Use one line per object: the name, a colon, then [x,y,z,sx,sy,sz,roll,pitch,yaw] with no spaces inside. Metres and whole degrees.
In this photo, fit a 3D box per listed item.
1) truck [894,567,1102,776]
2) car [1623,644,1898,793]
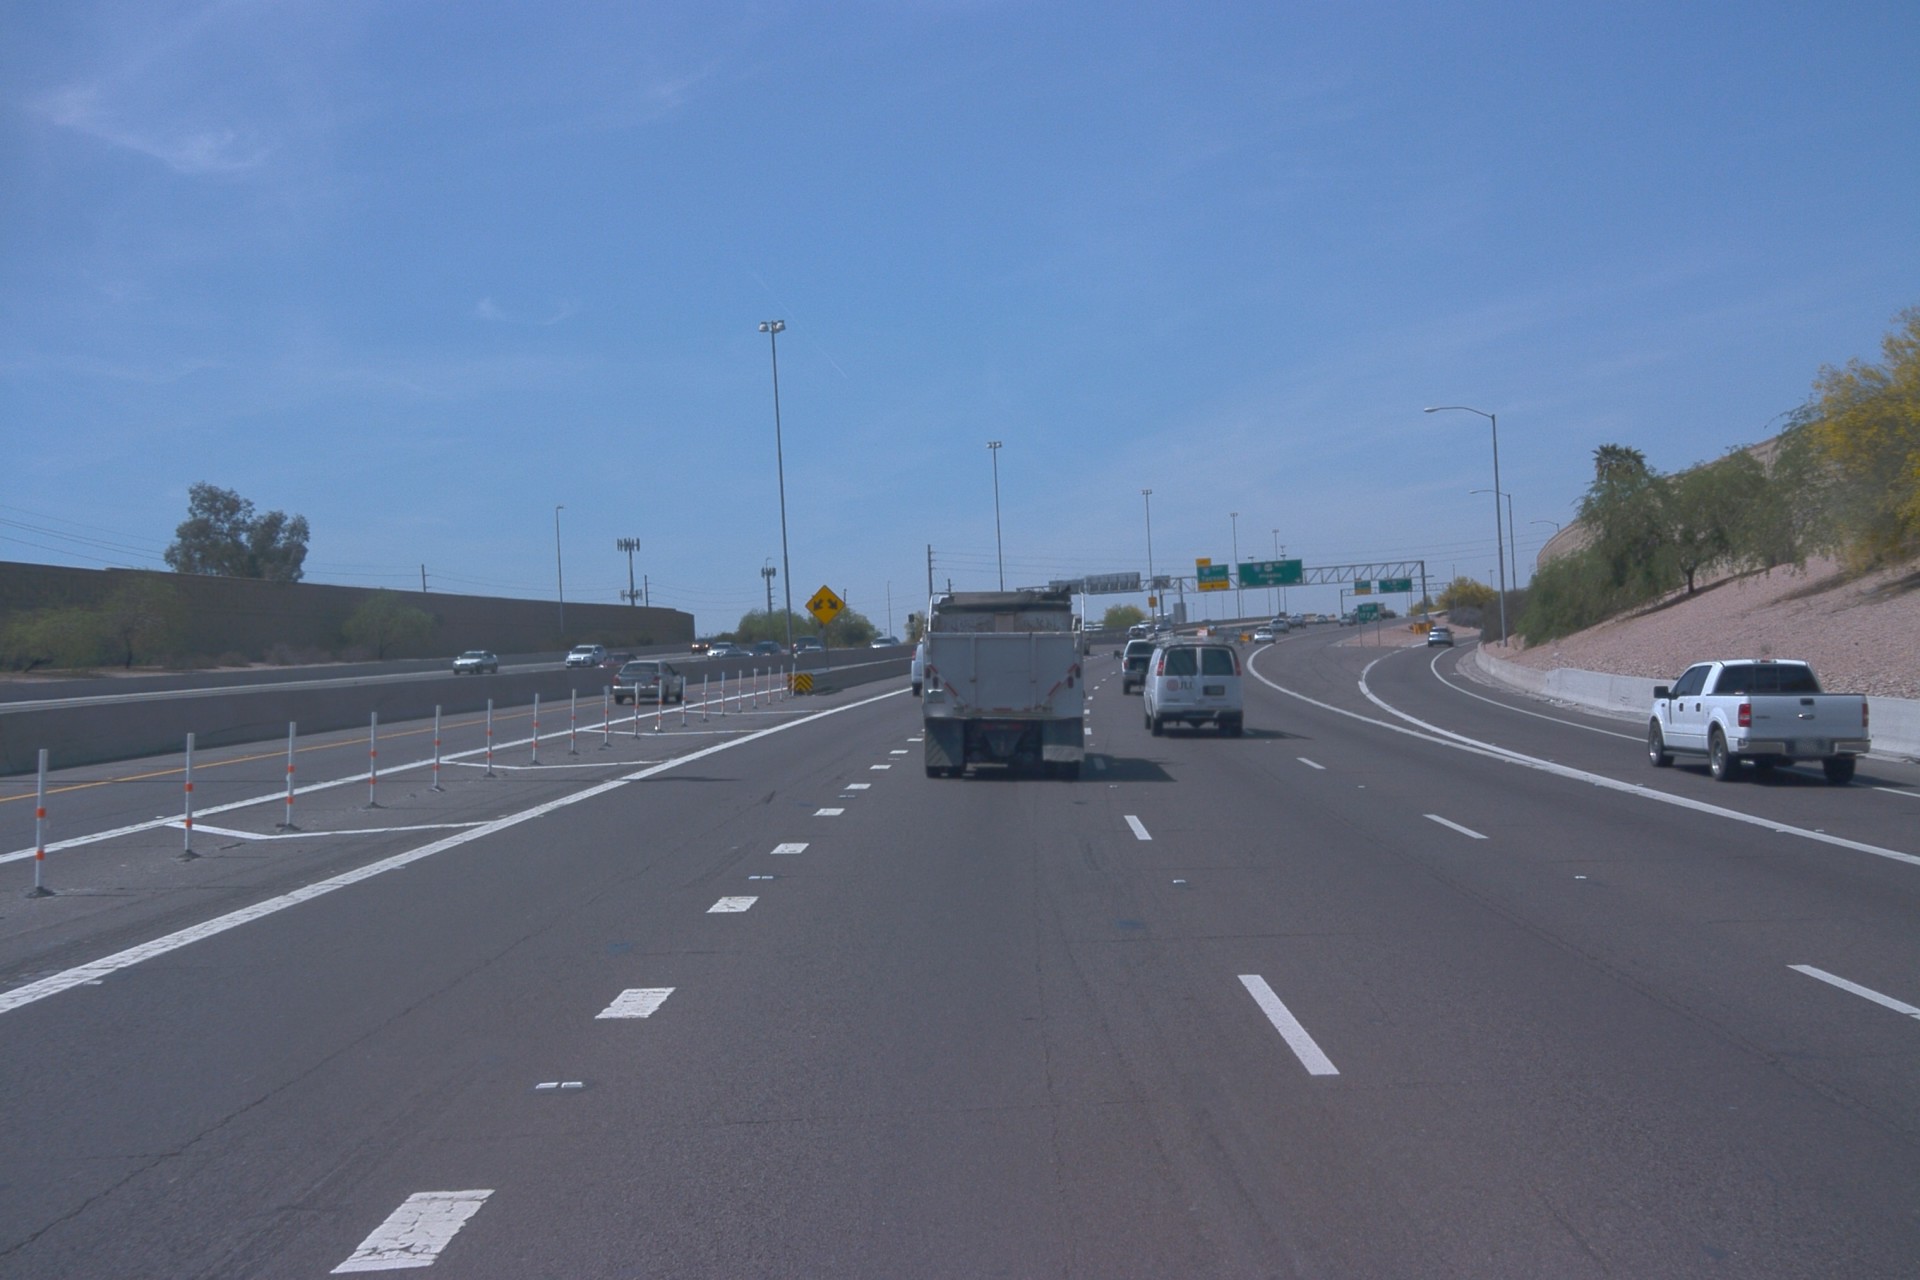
truck: [0.686,0.489,34.706,3.162,3.170,6.476,0,0,2]
car: [12.654,1.164,33.231,2.519,2.190,5.662,0,0,4]
